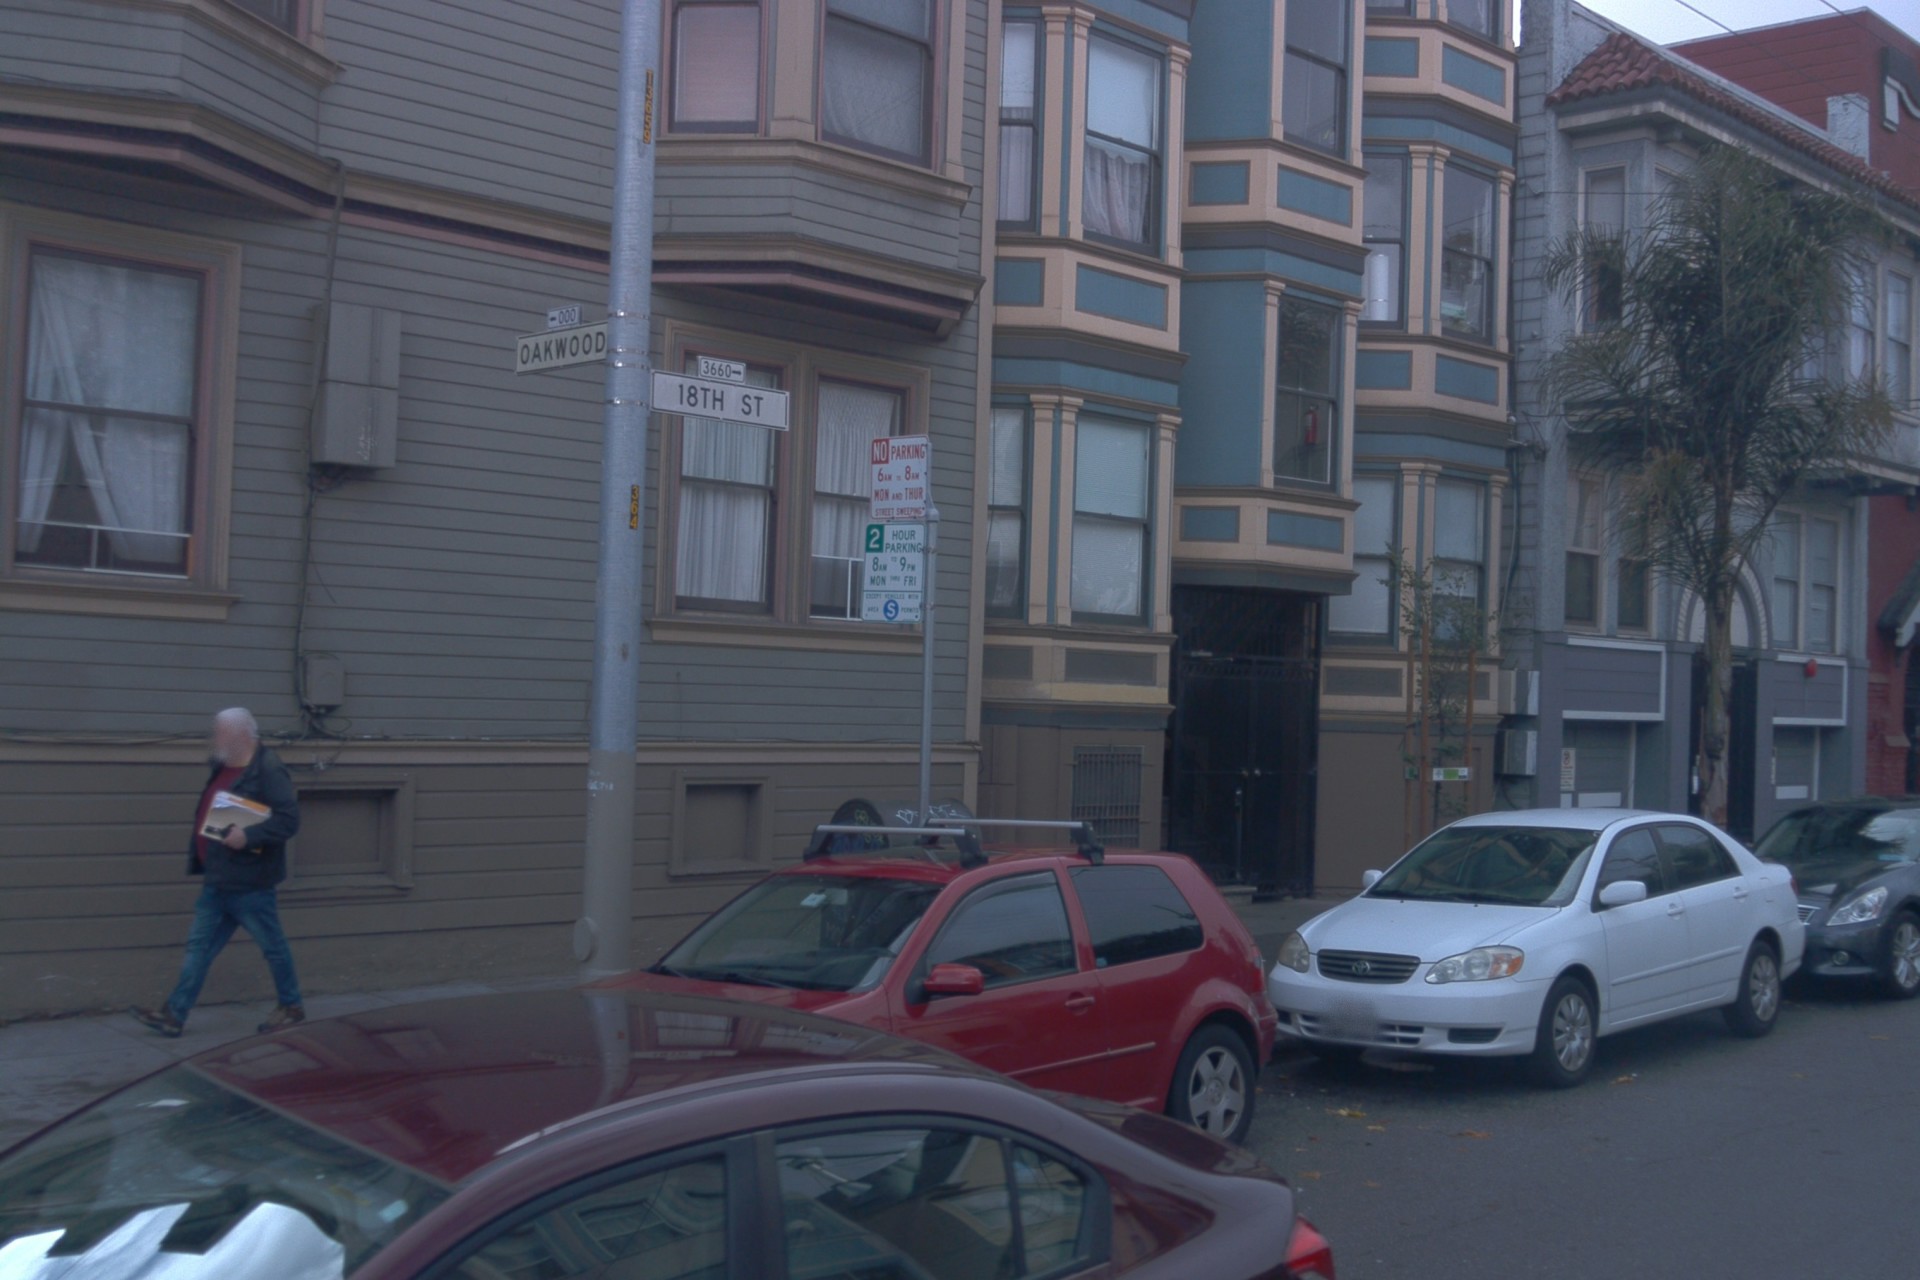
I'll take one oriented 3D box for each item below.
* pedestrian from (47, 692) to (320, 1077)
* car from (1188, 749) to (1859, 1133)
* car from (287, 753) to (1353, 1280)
[{"bbox_3d":[-4.044,1.211,10.808,1.006,1.850,0.994,2,-1,-41],"label":"pedestrian"},{"bbox_3d":[3.635,1.645,12.831,2.029,1.780,4.539,0,-1,44],"label":"car"},{"bbox_3d":[-0.384,1.440,8.916,2.028,1.750,4.282,0,-1,44],"label":"car"}]
